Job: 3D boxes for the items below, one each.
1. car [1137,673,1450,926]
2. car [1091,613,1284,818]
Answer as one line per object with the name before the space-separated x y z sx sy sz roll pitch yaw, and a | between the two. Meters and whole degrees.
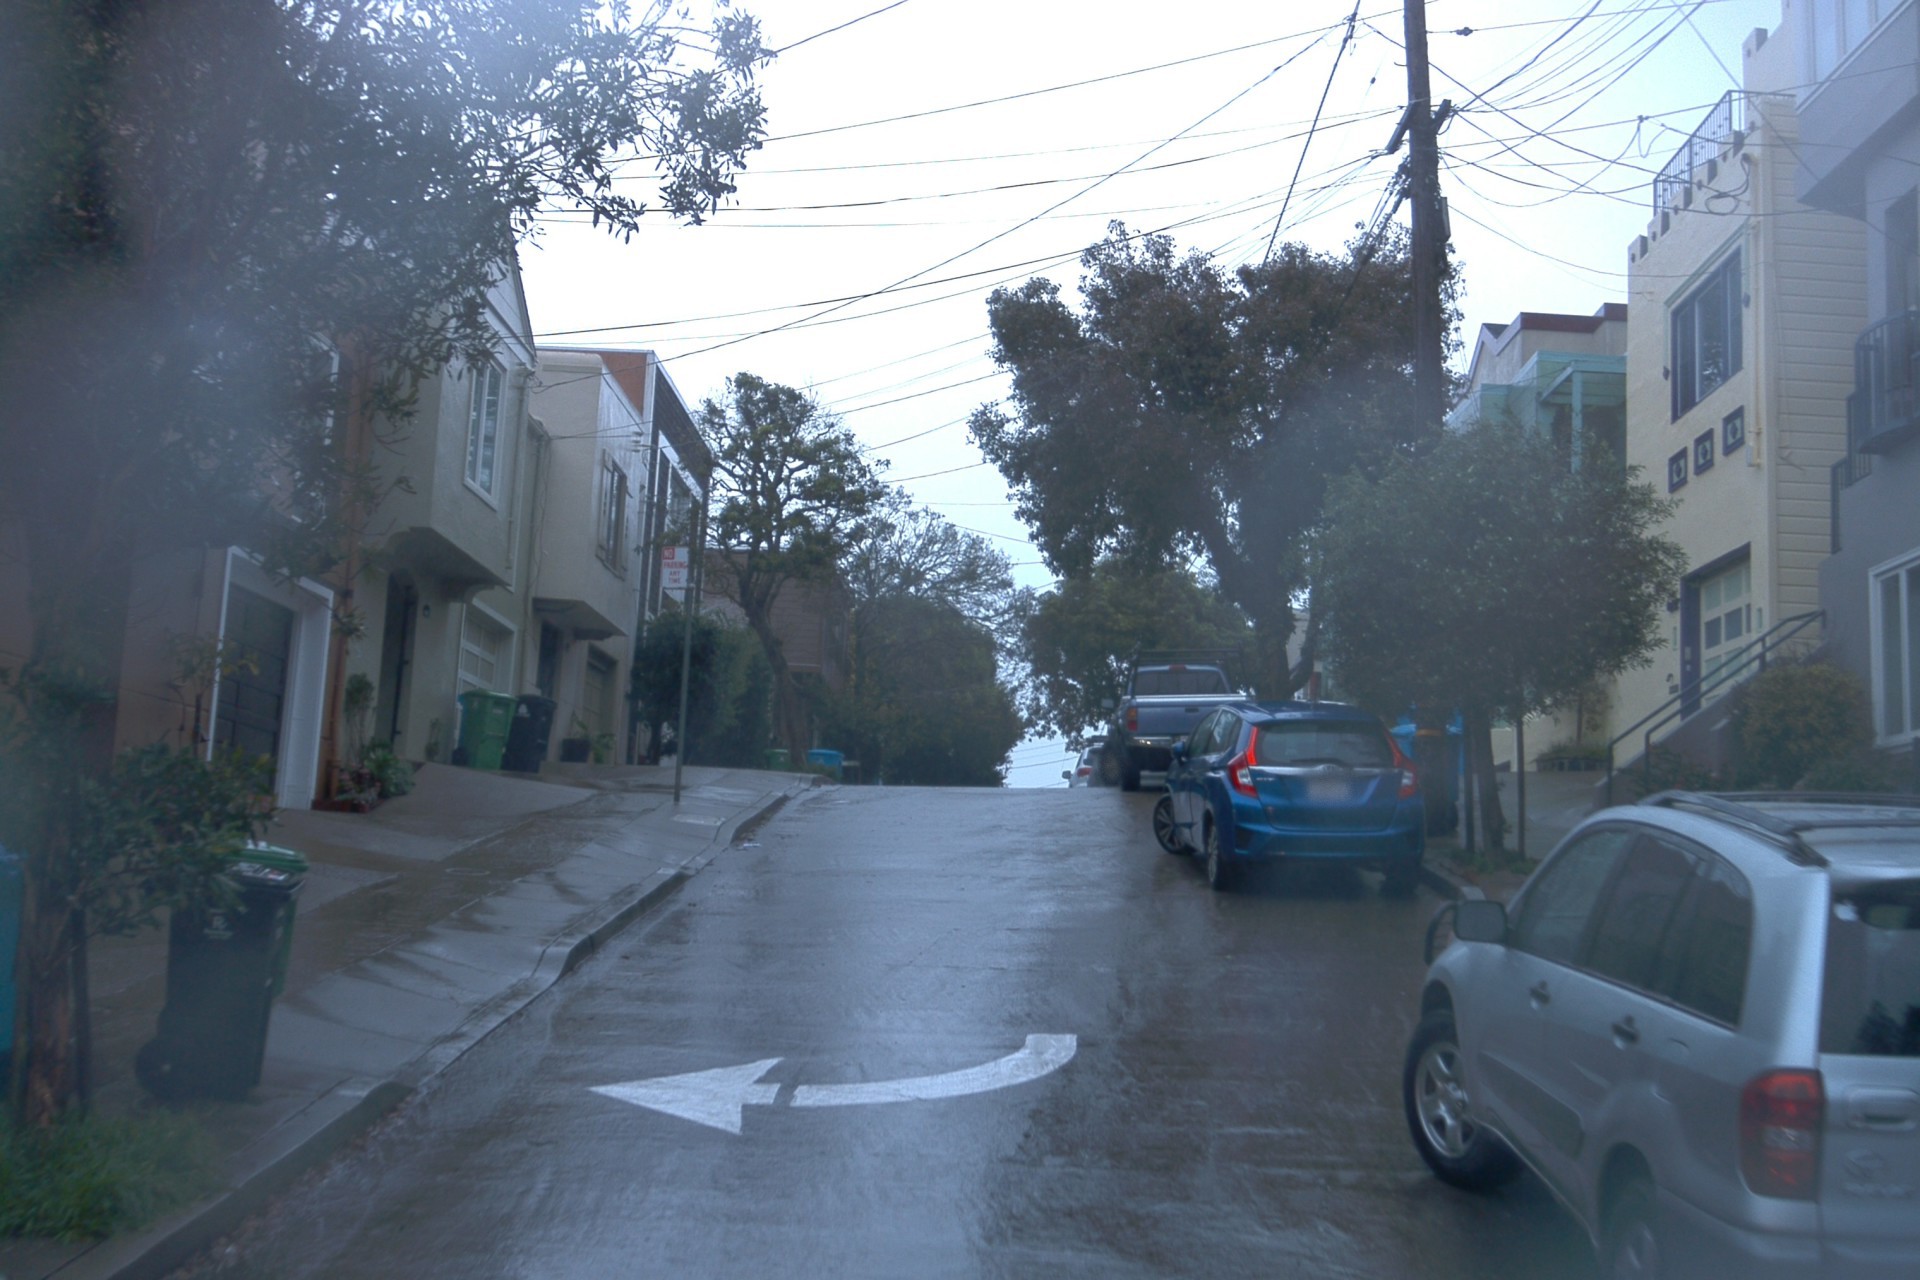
car | 2.762 1.269 18.011 1.835 1.830 4.181 1 0 -3
car | 2.999 0.919 28.315 2.116 2.510 5.436 1 0 1
